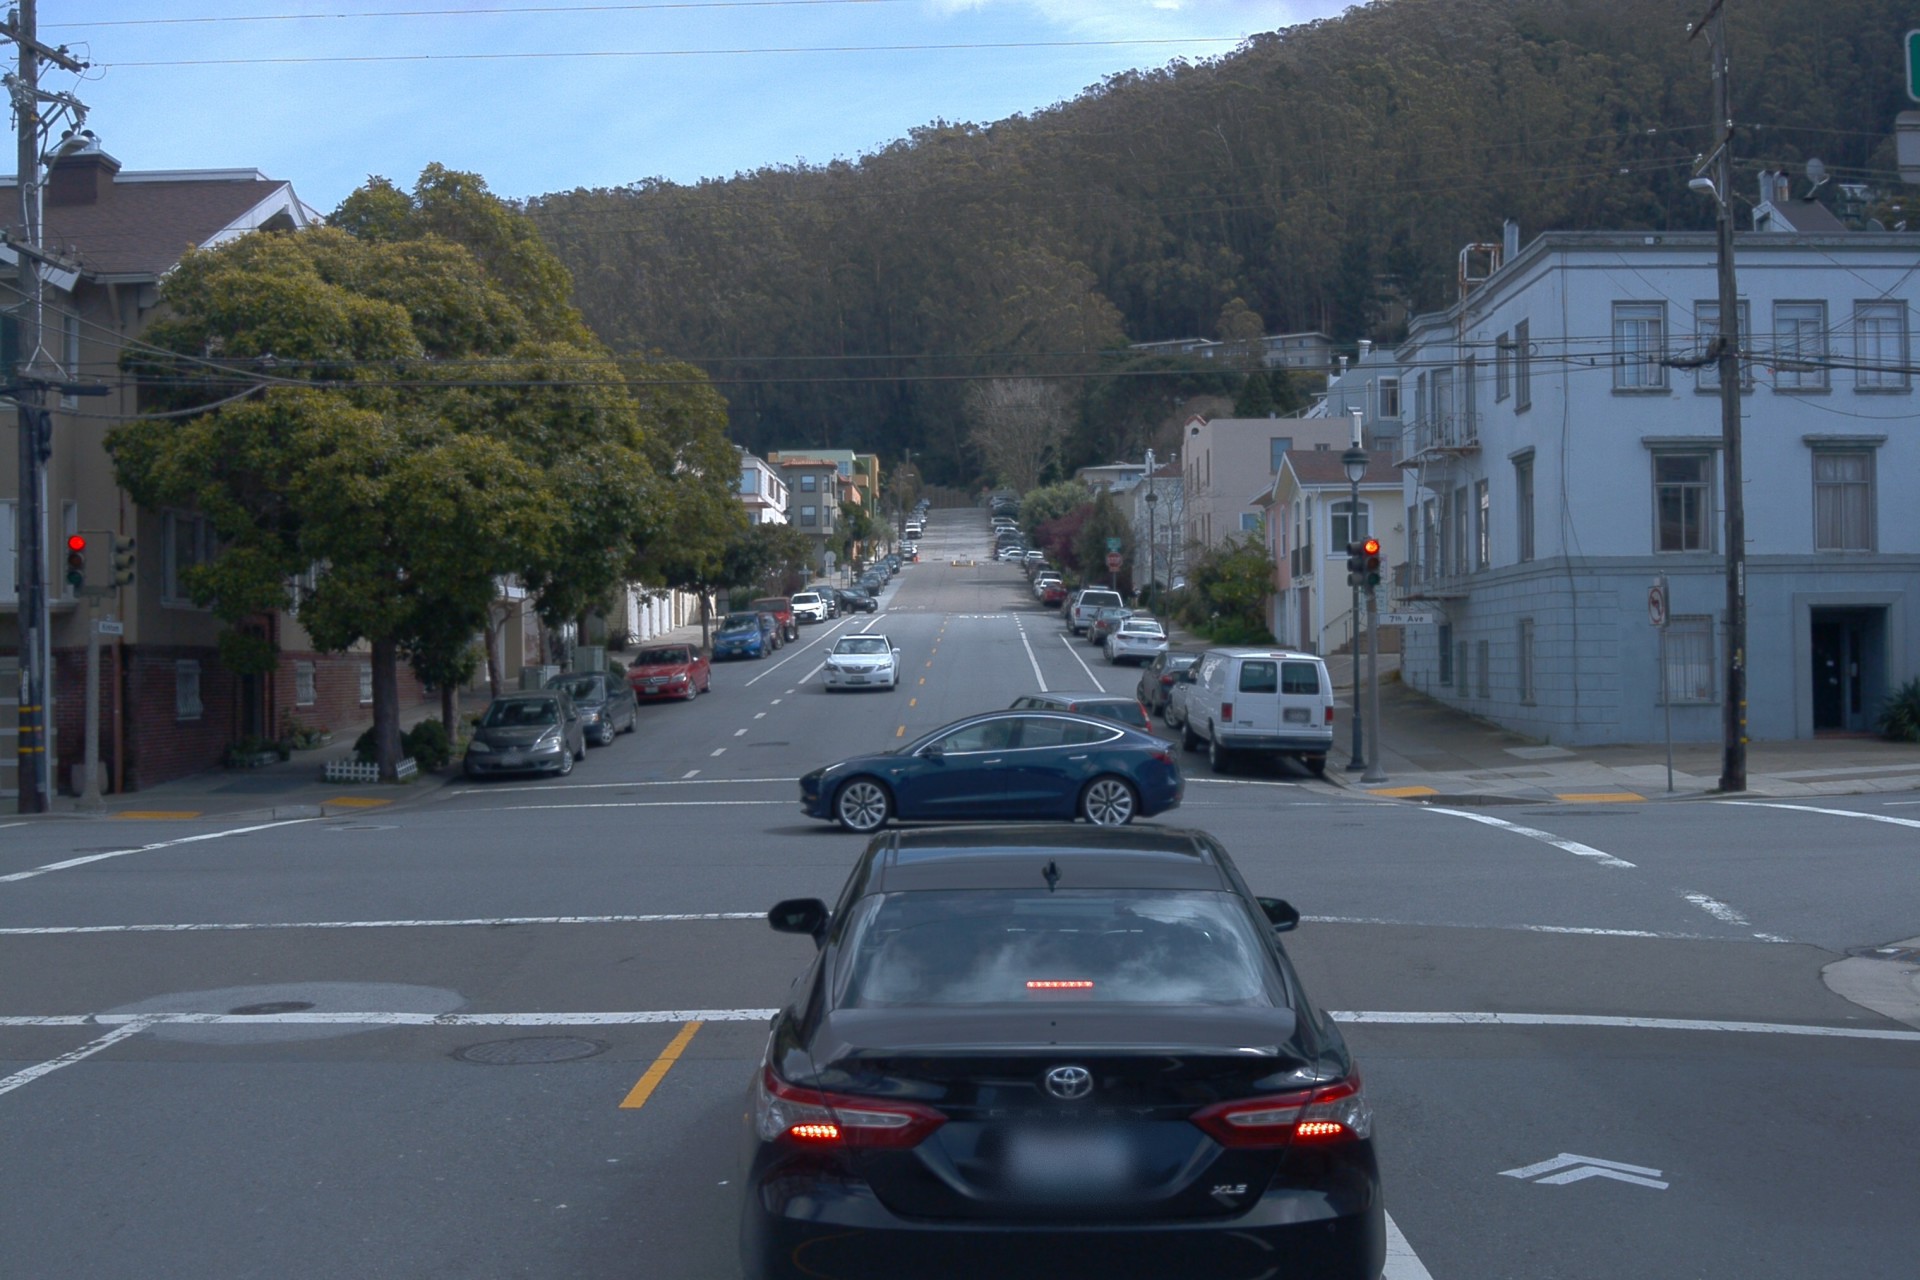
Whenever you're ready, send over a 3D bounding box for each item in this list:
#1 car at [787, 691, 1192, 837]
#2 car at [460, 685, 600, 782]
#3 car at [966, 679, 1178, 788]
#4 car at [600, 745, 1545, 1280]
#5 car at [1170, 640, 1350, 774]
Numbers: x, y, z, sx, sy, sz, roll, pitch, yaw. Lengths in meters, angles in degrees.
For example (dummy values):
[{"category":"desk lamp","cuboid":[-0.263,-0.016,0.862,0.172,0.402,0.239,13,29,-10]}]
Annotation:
[{"category":"car","cuboid":[0.356,1.433,24.443,4.603,1.600,2.010,0,0,1]},{"category":"car","cuboid":[-7.707,1.635,37.253,1.836,1.560,4.133,0,0,-3]},{"category":"car","cuboid":[1.781,1.512,34.664,1.993,1.600,4.698,0,0,-18]},{"category":"car","cuboid":[0.282,1.306,7.305,2.249,1.620,4.798,0,0,0]},{"category":"car","cuboid":[5.311,1.129,37.240,2.299,2.250,5.313,0,0,-2]}]
